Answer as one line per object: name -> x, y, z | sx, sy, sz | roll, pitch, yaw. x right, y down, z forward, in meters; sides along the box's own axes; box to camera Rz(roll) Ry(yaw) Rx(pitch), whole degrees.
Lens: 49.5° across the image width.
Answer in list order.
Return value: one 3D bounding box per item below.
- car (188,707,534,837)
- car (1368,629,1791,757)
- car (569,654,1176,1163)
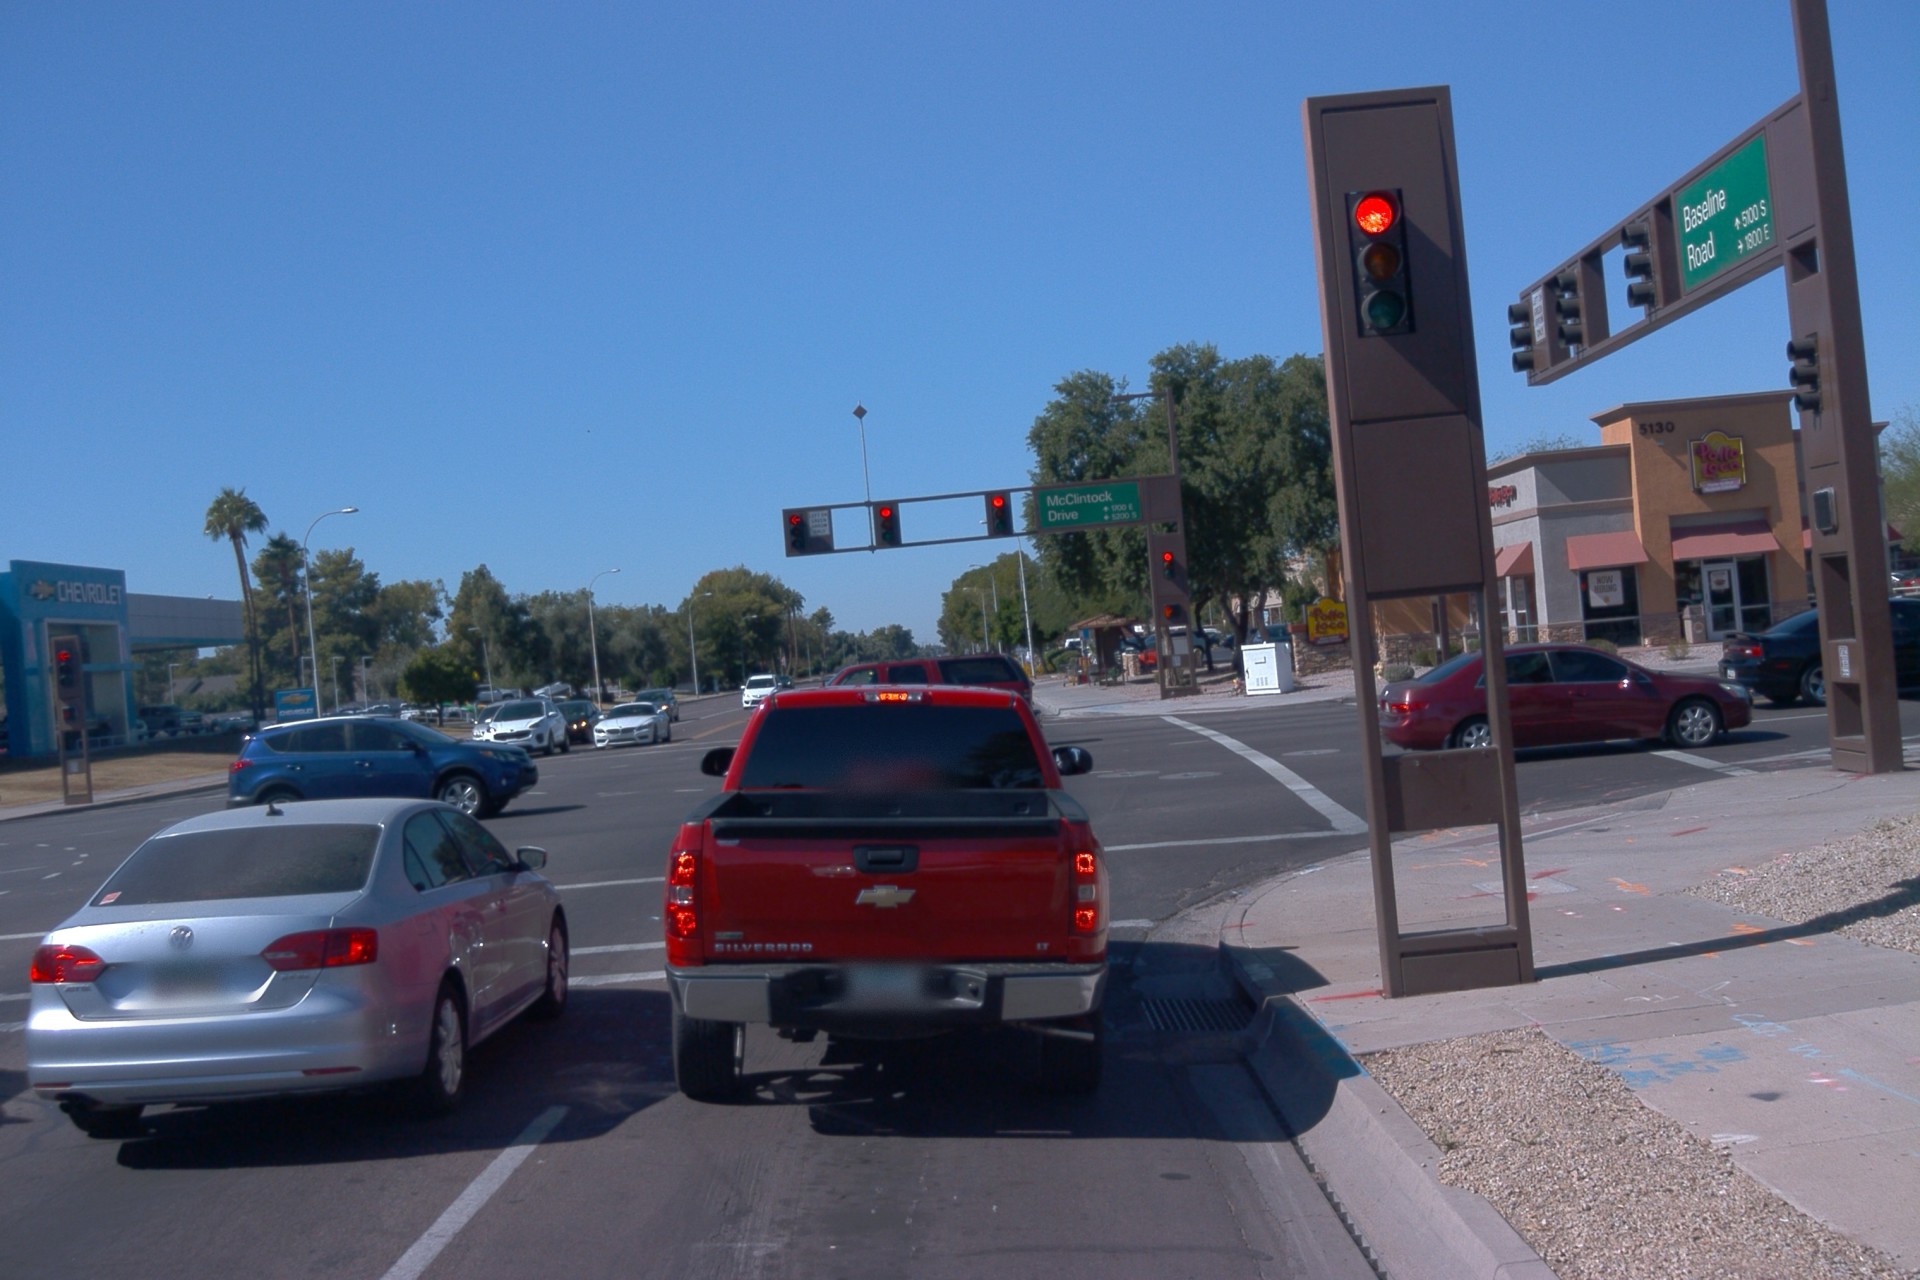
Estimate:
car -> -8.762, 1.926, 30.753 | 4.556, 1.781, 1.833 | 1, -1, 0
car -> 7.850, 0.665, 26.750 | 4.832, 1.530, 2.015 | 1, -1, 1
car -> -0.402, 1.176, 11.666 | 2.538, 2.120, 5.758 | 1, -1, -1
